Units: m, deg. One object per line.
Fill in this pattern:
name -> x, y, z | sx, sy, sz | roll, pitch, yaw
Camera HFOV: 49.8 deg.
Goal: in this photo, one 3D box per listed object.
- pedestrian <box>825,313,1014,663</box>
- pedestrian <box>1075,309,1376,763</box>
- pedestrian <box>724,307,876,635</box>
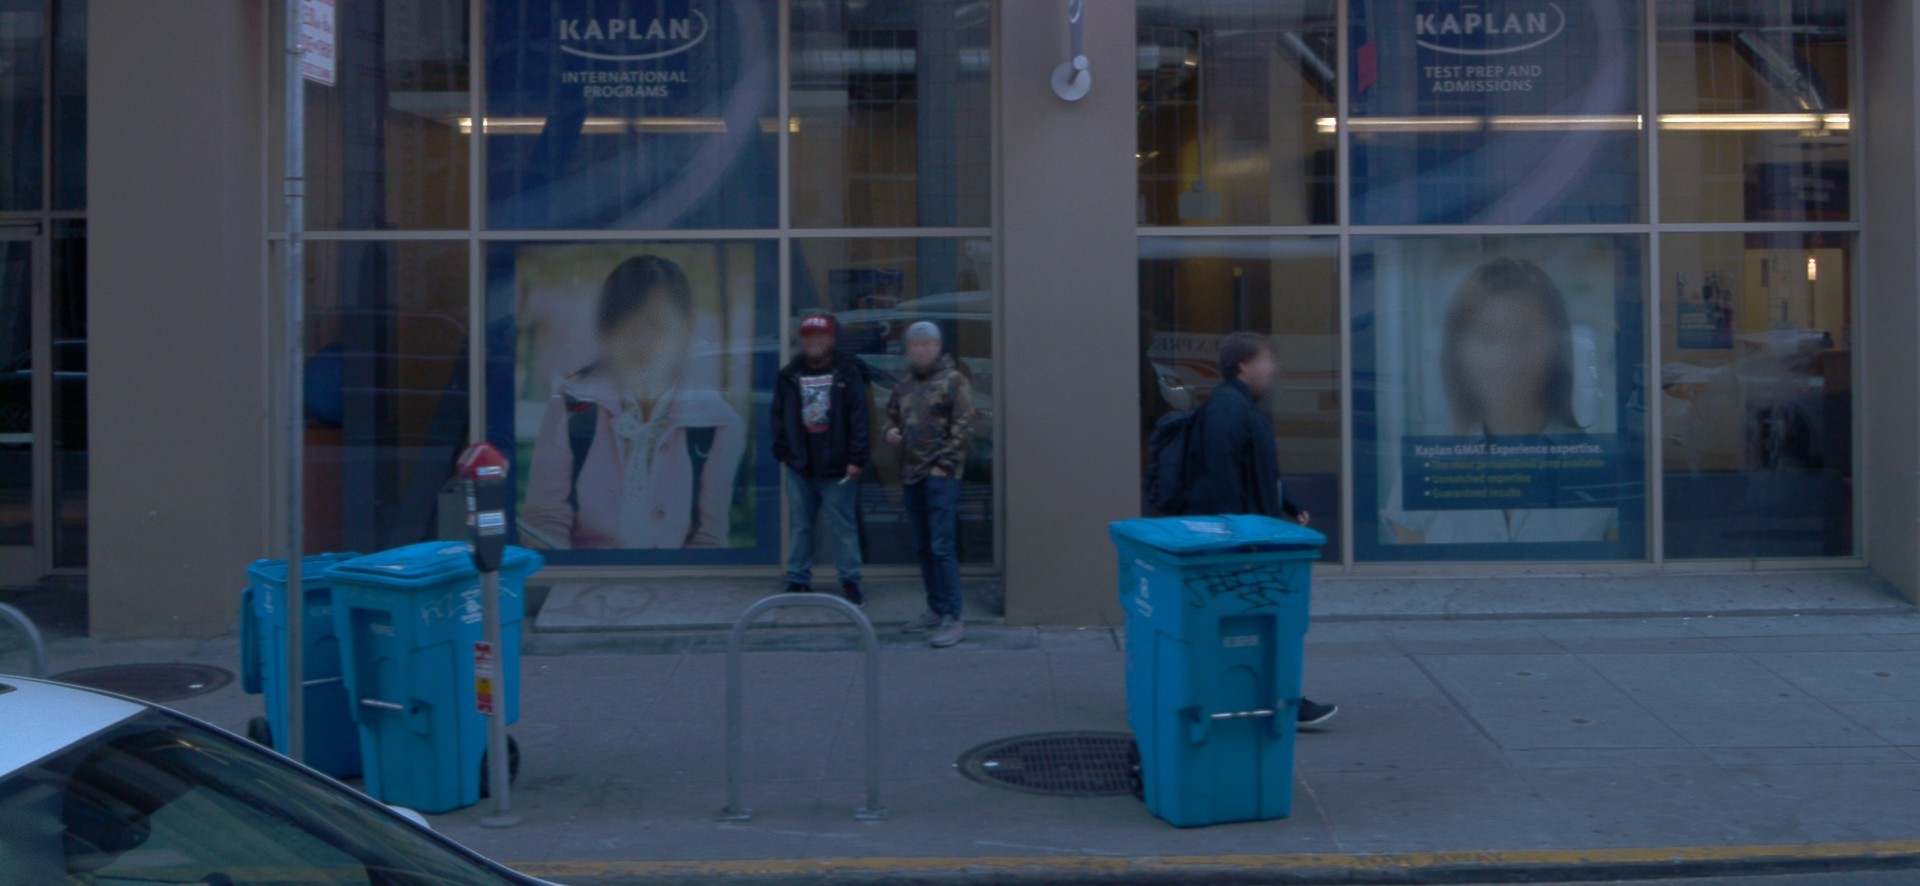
pedestrian -> -0.222, 0.211, 11.575 | 0.753, 1.822, 0.723 | 1, 2, 38
pedestrian -> 1.158, 0.359, 9.349 | 1.255, 1.861, 1.172 | 0, 3, 3
pedestrian -> -0.927, 0.138, 12.124 | 0.763, 1.832, 0.683 | 0, 2, 5
